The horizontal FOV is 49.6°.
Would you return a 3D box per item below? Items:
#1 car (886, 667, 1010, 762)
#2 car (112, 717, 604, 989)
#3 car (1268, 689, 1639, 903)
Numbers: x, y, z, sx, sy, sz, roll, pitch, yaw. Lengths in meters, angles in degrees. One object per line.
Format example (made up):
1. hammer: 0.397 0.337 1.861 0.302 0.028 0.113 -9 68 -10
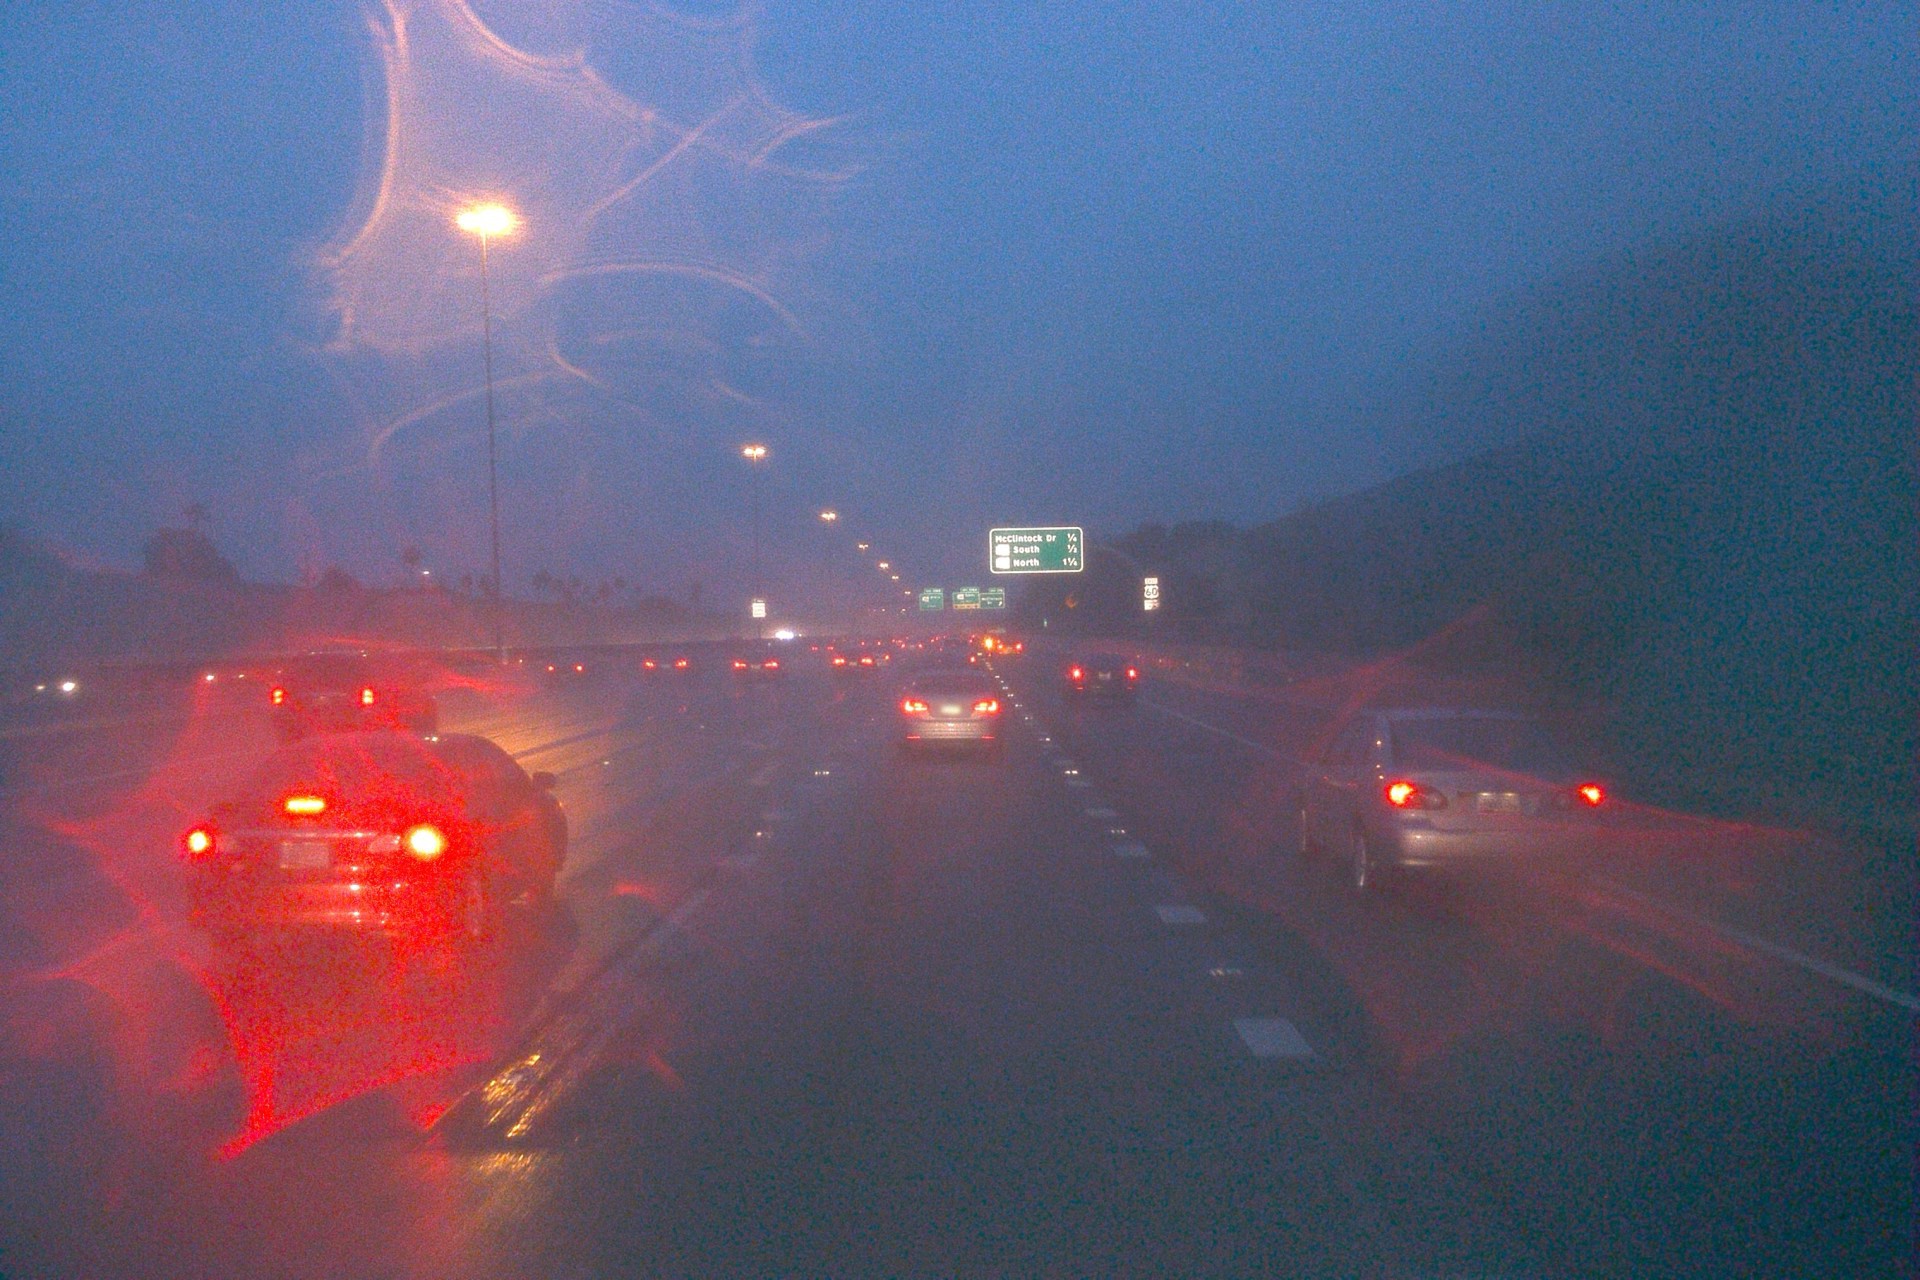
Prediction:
1. car: -0.167 1.207 35.071 1.966 1.470 4.133 0 0 1
2. car: -4.010 1.363 14.765 2.168 1.490 4.575 0 0 0
3. car: 3.858 1.168 17.053 2.013 1.440 4.411 0 0 0
